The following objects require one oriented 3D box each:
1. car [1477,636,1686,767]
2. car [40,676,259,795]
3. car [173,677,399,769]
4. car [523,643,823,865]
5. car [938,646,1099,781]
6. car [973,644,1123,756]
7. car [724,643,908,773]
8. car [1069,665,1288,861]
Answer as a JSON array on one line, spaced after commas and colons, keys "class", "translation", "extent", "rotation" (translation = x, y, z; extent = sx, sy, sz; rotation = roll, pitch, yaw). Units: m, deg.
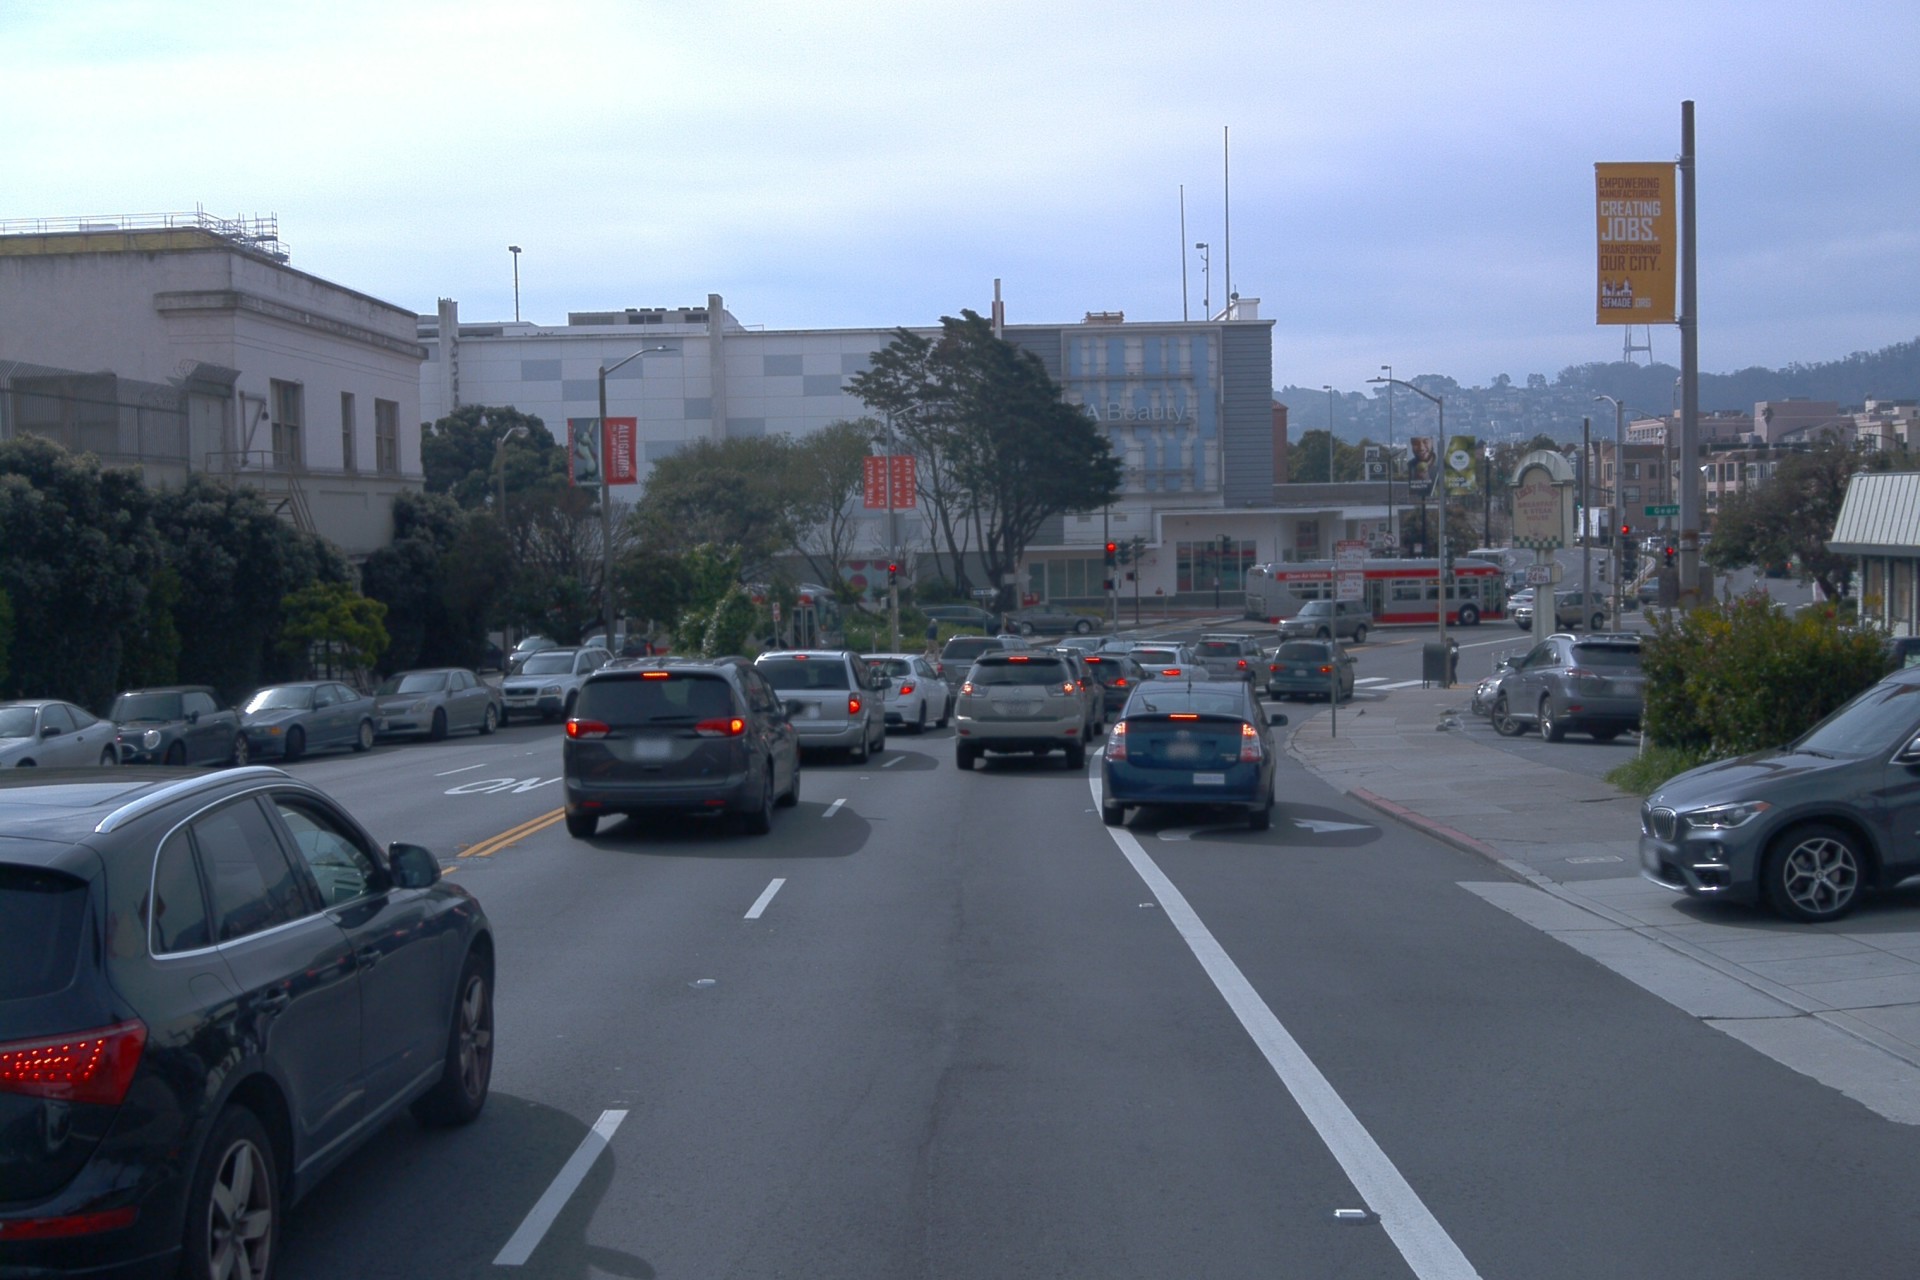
[{"class": "car", "translation": [9.899, 0.919, 32.949], "extent": [2.065, 1.920, 4.493], "rotation": [1, 0, 1]}, {"class": "car", "translation": [-12.249, 1.404, 31.160], "extent": [1.794, 1.600, 3.734], "rotation": [1, 0, 1]}, {"class": "car", "translation": [-11.806, 1.417, 36.167], "extent": [2.034, 1.390, 4.451], "rotation": [1, 0, 8]}, {"class": "car", "translation": [-2.861, 1.071, 21.676], "extent": [2.338, 2.030, 5.004], "rotation": [1, 0, 2]}, {"class": "car", "translation": [0.927, 1.009, 30.204], "extent": [2.197, 1.780, 4.467], "rotation": [1, 0, 3]}, {"class": "car", "translation": [1.687, 1.038, 37.532], "extent": [2.120, 1.870, 4.391], "rotation": [1, 0, 11]}, {"class": "car", "translation": [-2.136, 0.982, 31.799], "extent": [2.131, 1.830, 4.635], "rotation": [1, 0, 5]}, {"class": "car", "translation": [2.473, 1.221, 22.198], "extent": [2.113, 1.790, 4.647], "rotation": [1, 0, 9]}]
